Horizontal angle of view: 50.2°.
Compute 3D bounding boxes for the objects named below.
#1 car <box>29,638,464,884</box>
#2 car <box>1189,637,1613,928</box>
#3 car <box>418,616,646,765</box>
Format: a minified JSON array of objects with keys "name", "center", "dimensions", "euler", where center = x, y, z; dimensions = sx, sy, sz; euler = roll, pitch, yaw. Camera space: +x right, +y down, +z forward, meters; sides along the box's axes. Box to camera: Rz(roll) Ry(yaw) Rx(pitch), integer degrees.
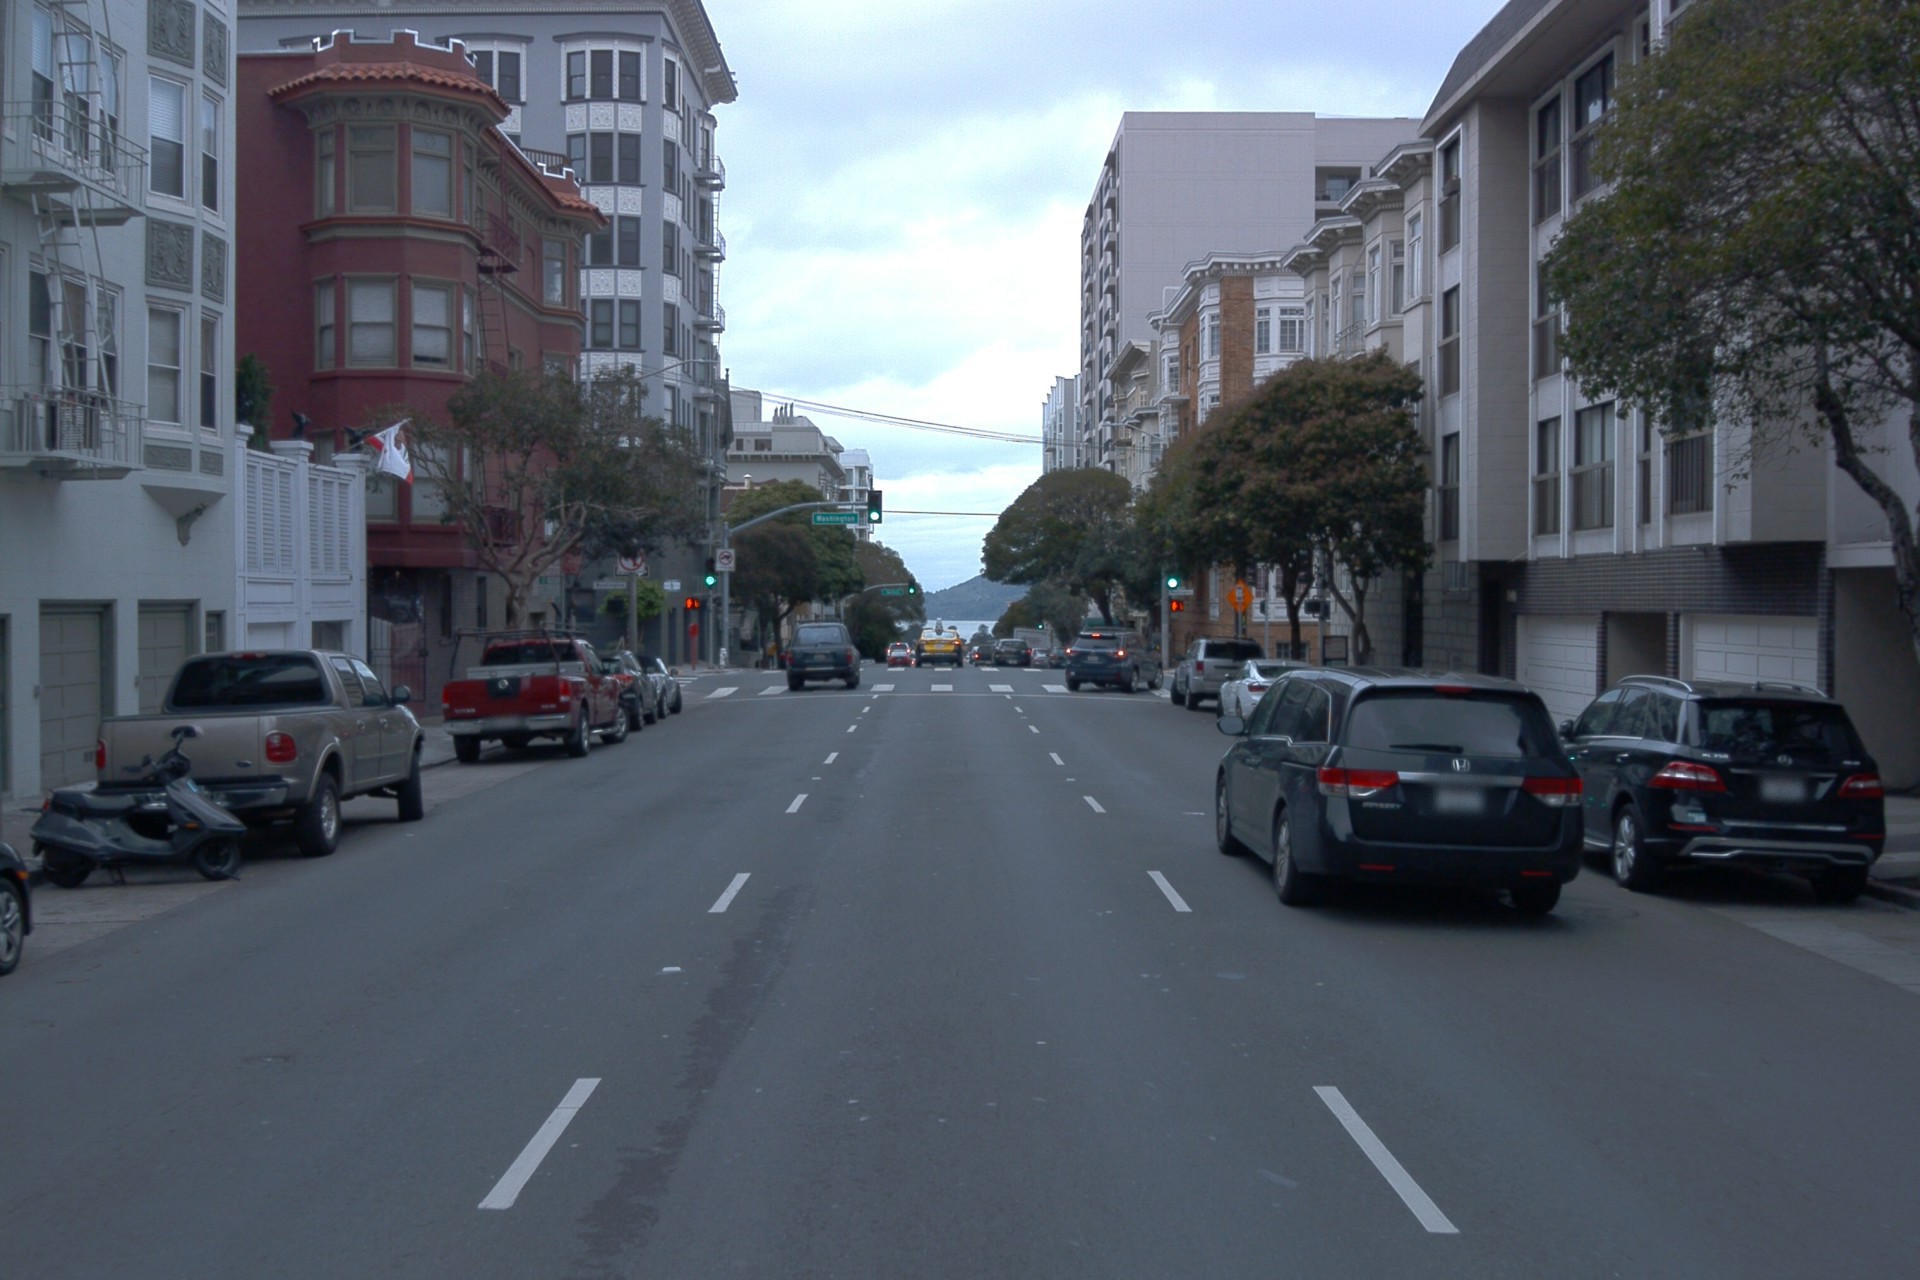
[{"name":"car","center":[-6.830,1.036,20.540],"dimensions":[2.423,2.060,5.954],"euler":[0,0,-1]},{"name":"car","center":[3.207,0.943,16.093],"dimensions":[2.200,1.890,4.938],"euler":[0,1,-1]},{"name":"car","center":[-6.840,0.730,33.517],"dimensions":[2.443,2.200,5.899],"euler":[0,1,0]}]
